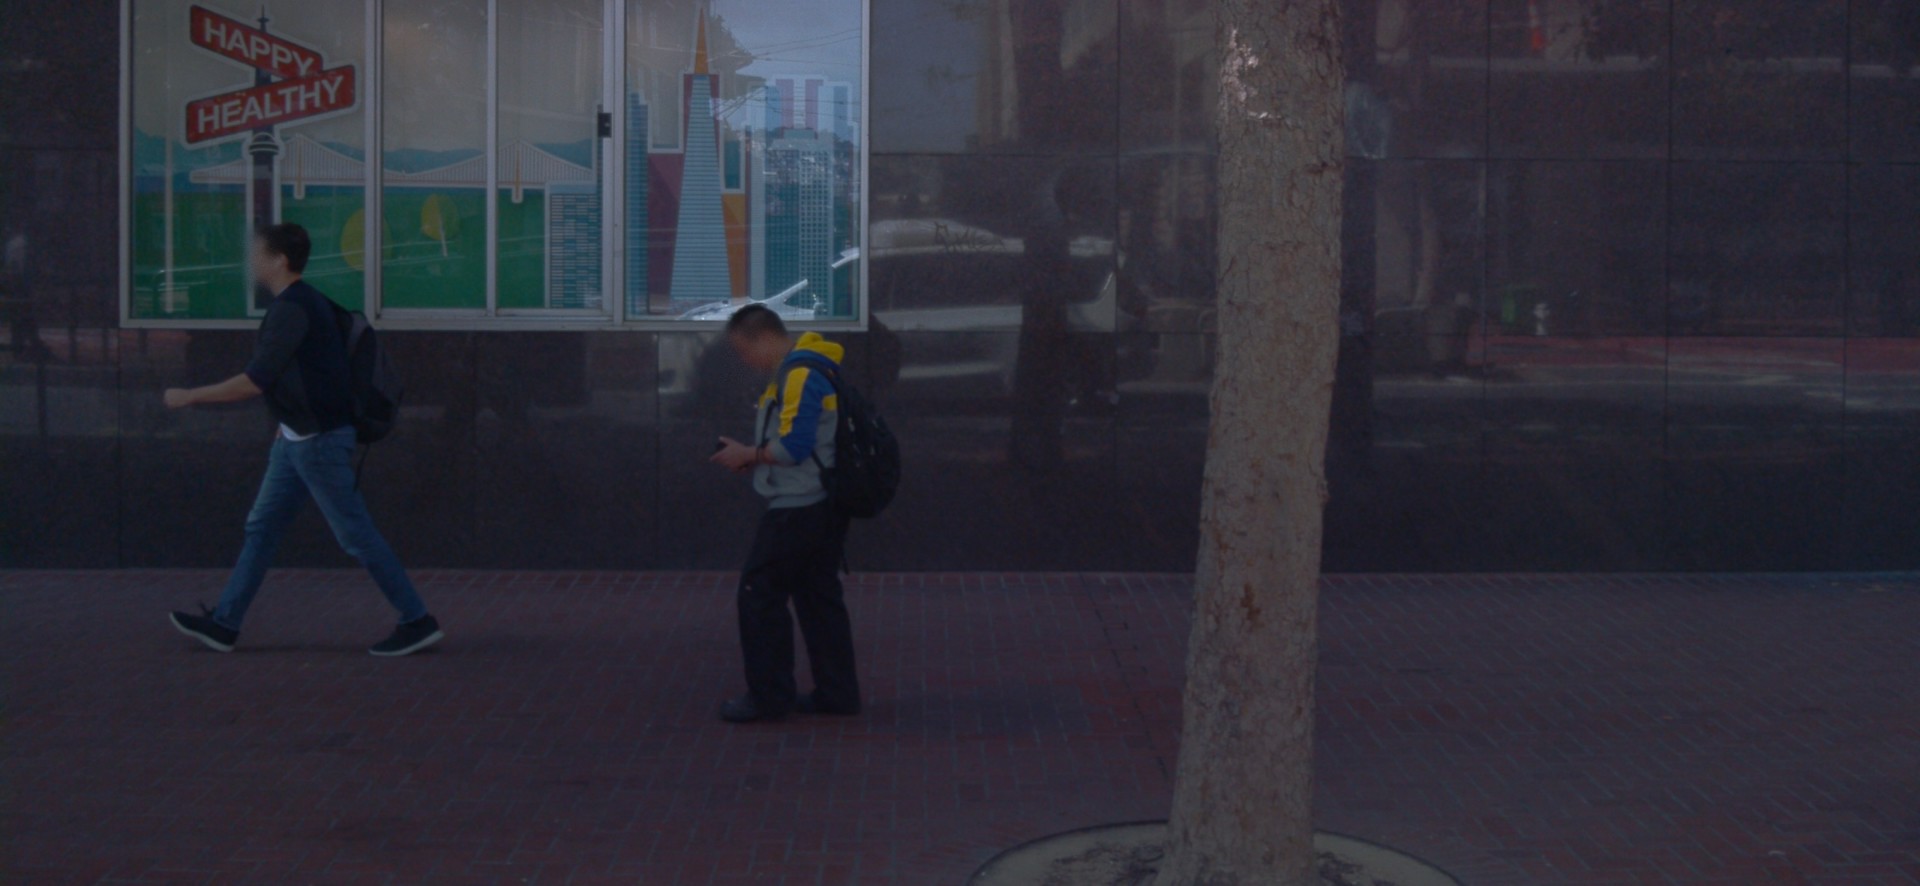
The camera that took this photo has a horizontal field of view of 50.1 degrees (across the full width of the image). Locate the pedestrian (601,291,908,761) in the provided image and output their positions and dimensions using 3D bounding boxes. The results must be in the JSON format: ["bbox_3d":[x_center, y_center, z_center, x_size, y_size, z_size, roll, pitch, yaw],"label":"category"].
[{"bbox_3d":[-0.753,0.269,7.754,1.022,1.659,0.711,0,1,6],"label":"pedestrian"}]

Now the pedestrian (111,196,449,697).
[{"bbox_3d":[-2.820,-0.040,8.653,1.229,1.979,0.867,0,1,-9],"label":"pedestrian"}]
